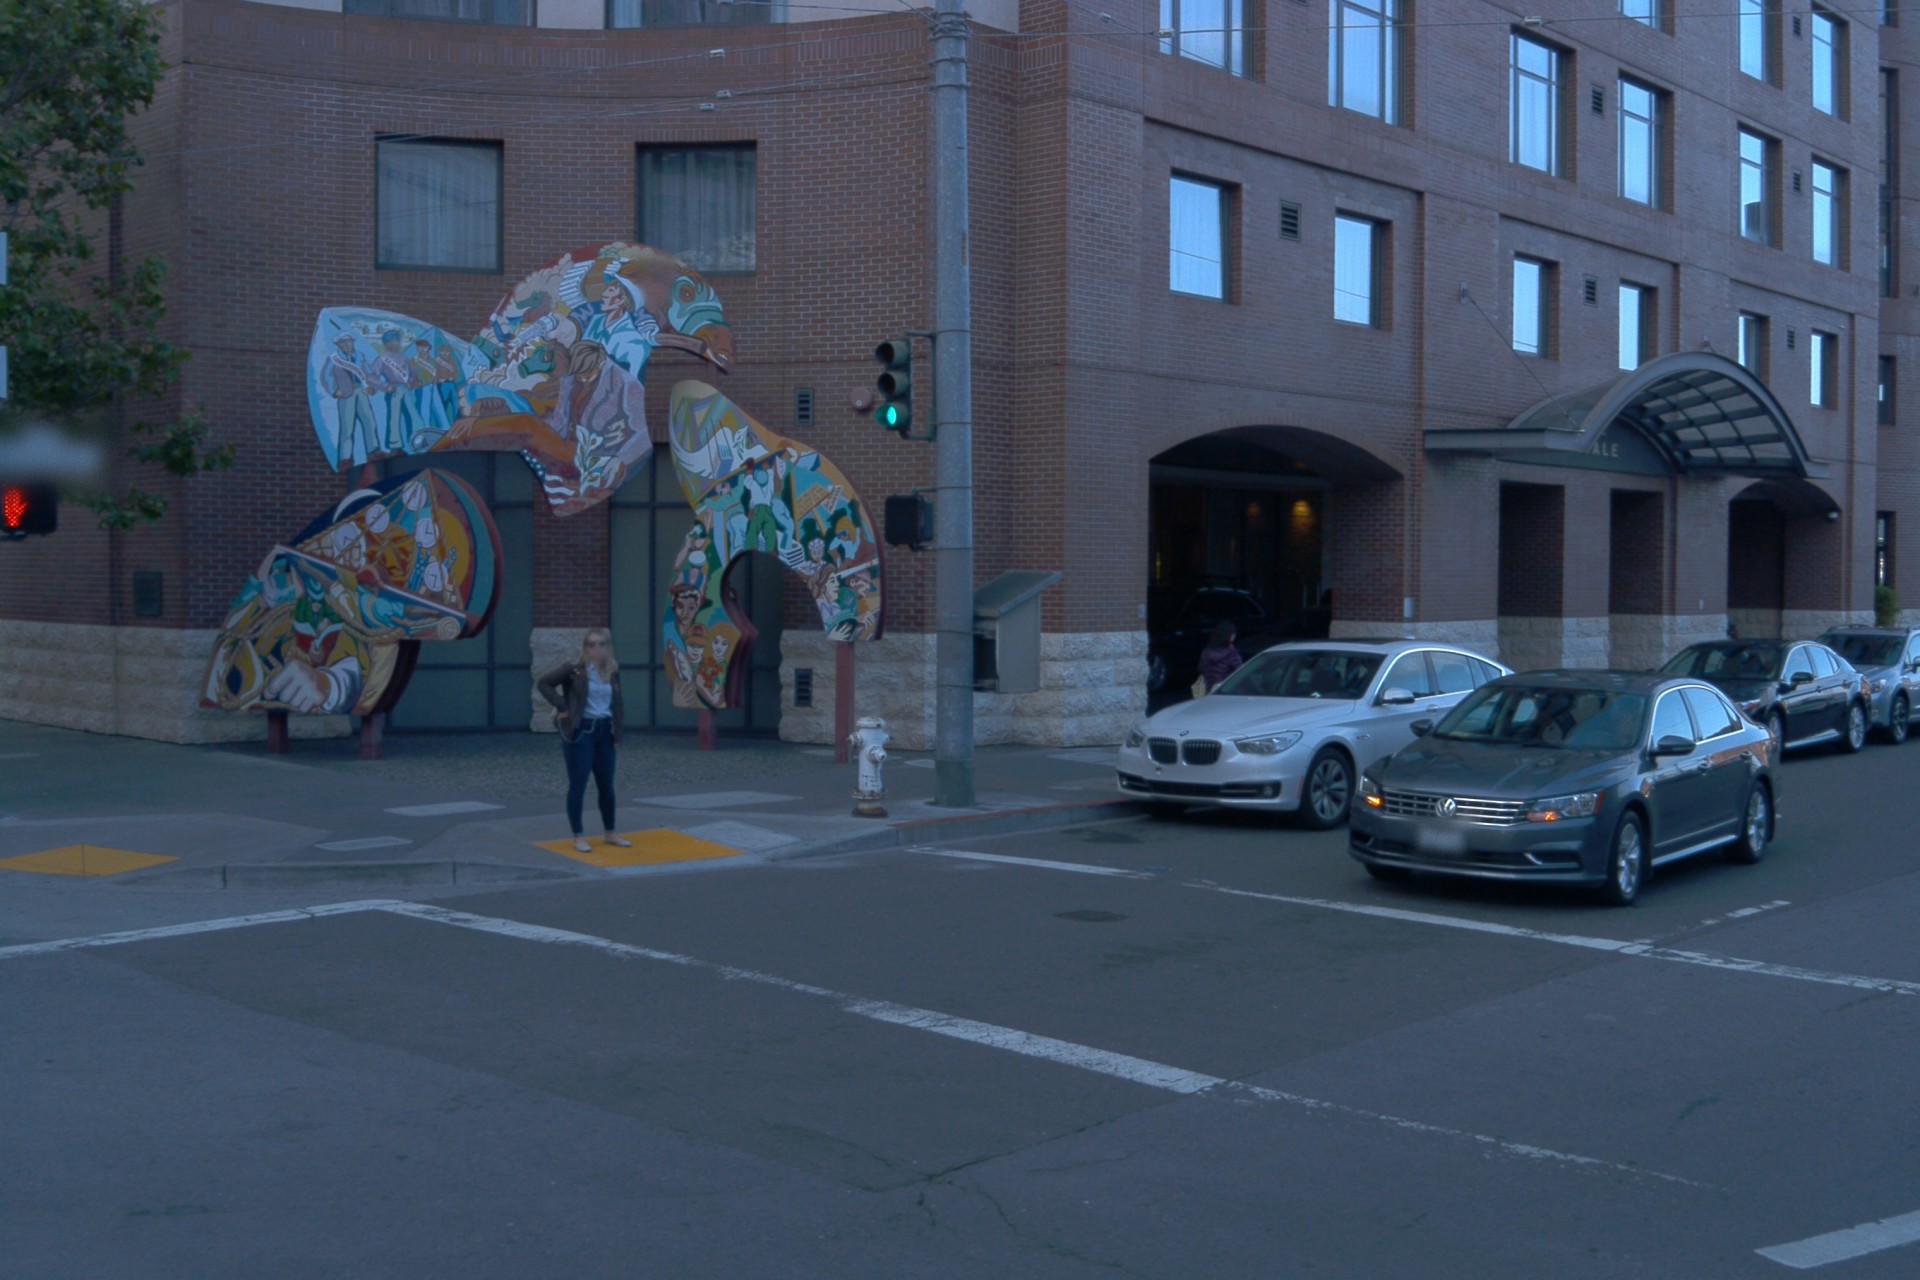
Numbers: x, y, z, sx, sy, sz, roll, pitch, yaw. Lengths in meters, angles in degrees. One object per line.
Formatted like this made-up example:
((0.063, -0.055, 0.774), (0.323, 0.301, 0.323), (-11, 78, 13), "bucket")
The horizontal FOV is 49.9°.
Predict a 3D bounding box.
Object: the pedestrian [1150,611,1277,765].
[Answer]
((2.677, 0.485, 21.821), (0.934, 1.584, 0.956), (-1, 1, -36), "pedestrian")

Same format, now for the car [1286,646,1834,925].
((4.436, 0.865, 14.702), (2.157, 1.557, 4.762), (0, 1, 38), "car")

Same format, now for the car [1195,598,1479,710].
((5.914, 0.160, 31.931), (2.054, 1.600, 4.898), (1, 1, 42), "car")

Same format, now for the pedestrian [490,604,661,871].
((-2.752, 0.660, 14.758), (0.854, 1.837, 0.903), (-1, 1, -40), "pedestrian")

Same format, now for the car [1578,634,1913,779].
((9.663, 0.717, 25.154), (2.204, 1.534, 4.940), (1, 1, 42), "car")

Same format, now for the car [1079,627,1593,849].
((3.529, 0.747, 18.629), (2.152, 1.680, 5.054), (1, 1, 43), "car")
